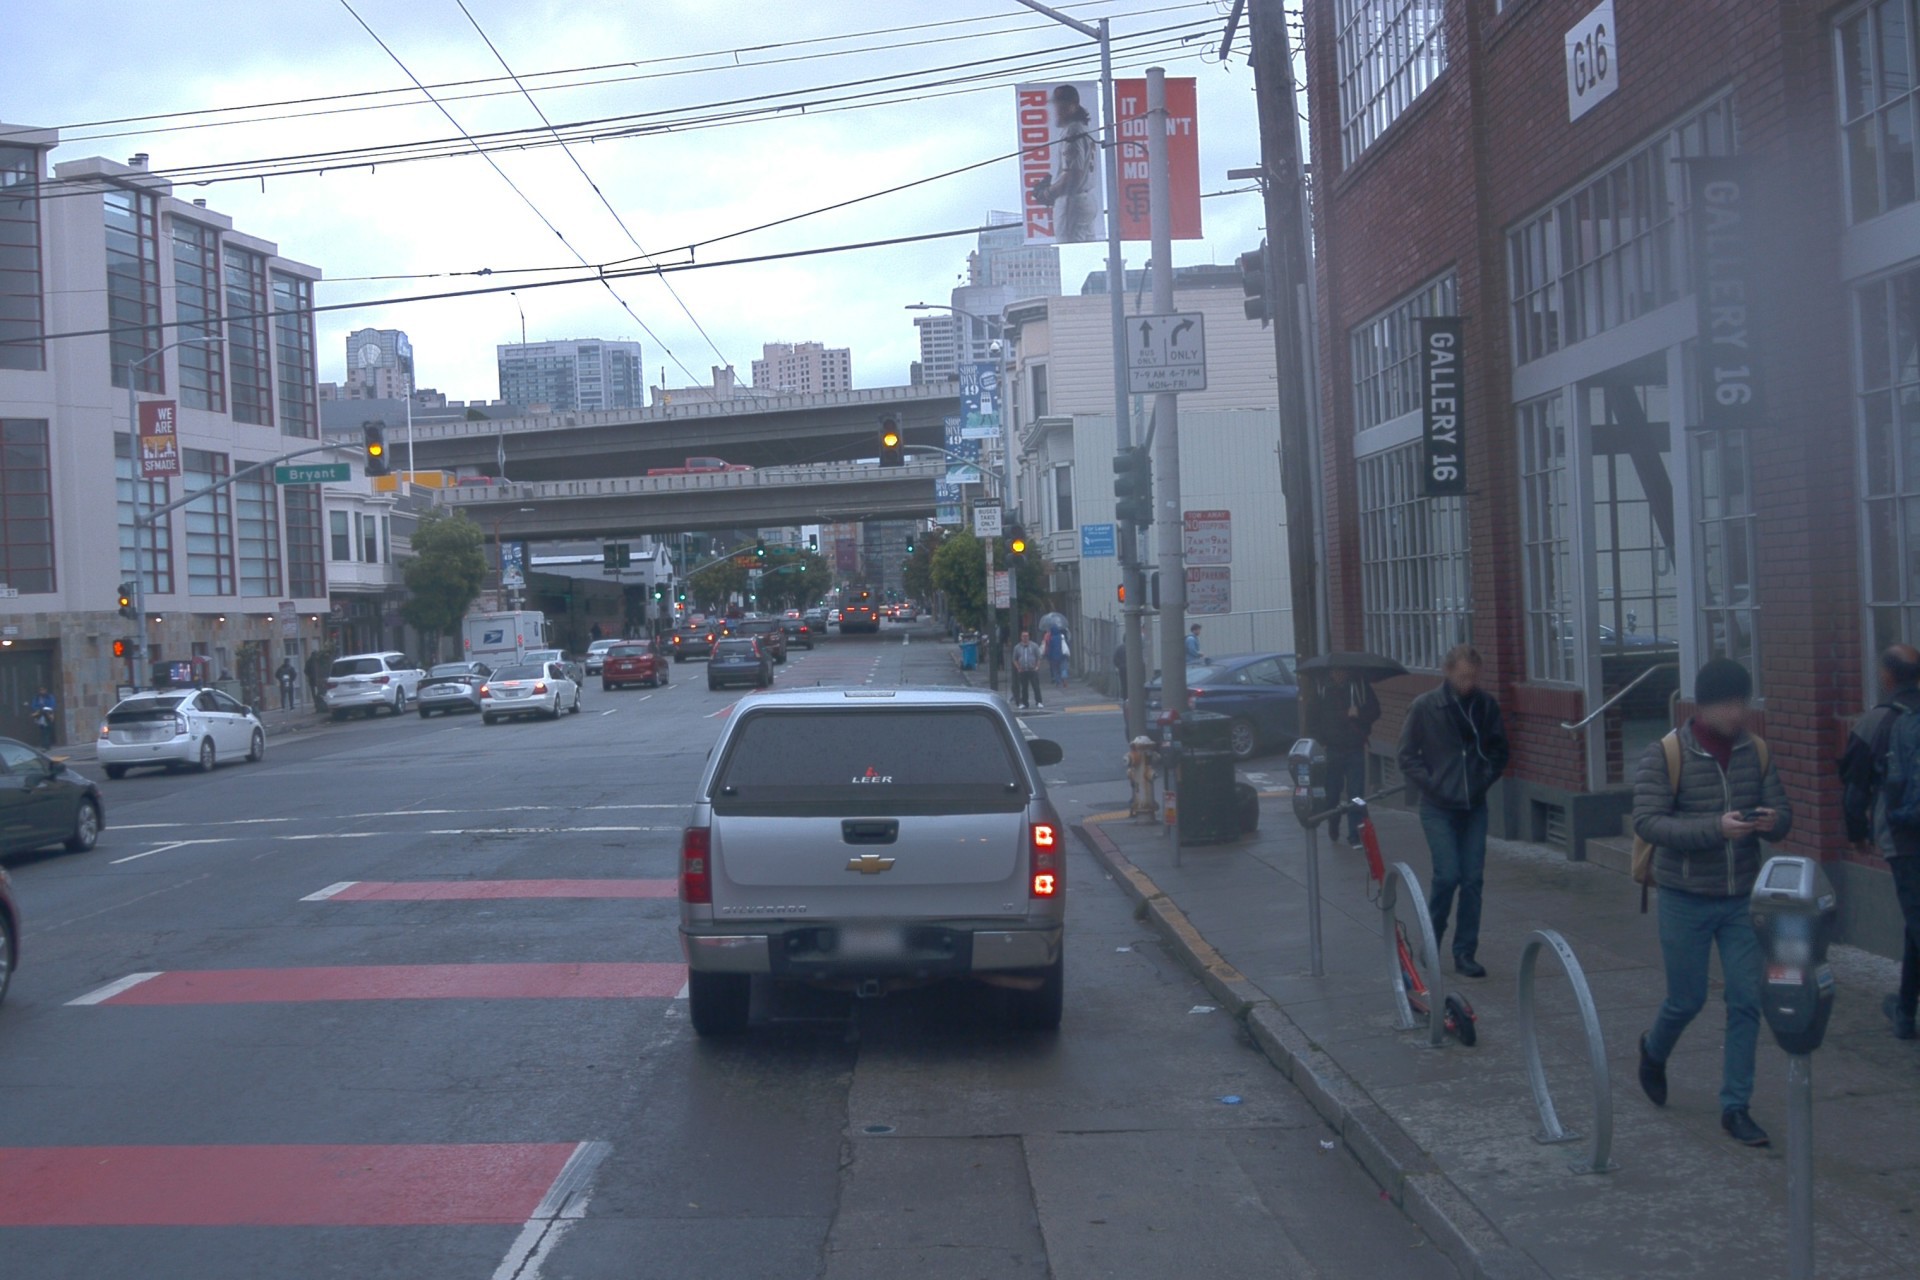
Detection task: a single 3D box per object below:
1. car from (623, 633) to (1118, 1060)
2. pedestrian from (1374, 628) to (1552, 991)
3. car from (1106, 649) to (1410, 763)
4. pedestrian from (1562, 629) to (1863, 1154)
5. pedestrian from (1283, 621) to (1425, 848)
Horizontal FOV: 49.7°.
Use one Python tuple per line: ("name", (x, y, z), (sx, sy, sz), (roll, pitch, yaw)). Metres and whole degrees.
("car", (-0.460, 1.046, 12.886), (2.411, 2.070, 5.547), (0, -1, -1))
("pedestrian", (2.690, 0.881, 11.186), (0.749, 1.870, 0.954), (0, -1, 2))
("car", (4.431, 0.933, 30.548), (4.377, 1.560, 1.889), (0, -1, -37))
("pedestrian", (2.750, 0.880, 7.668), (0.763, 1.820, 0.914), (0, -1, -1))
("pedestrian", (3.329, 0.790, 17.631), (1.015, 1.870, 1.039), (0, -1, 1))
